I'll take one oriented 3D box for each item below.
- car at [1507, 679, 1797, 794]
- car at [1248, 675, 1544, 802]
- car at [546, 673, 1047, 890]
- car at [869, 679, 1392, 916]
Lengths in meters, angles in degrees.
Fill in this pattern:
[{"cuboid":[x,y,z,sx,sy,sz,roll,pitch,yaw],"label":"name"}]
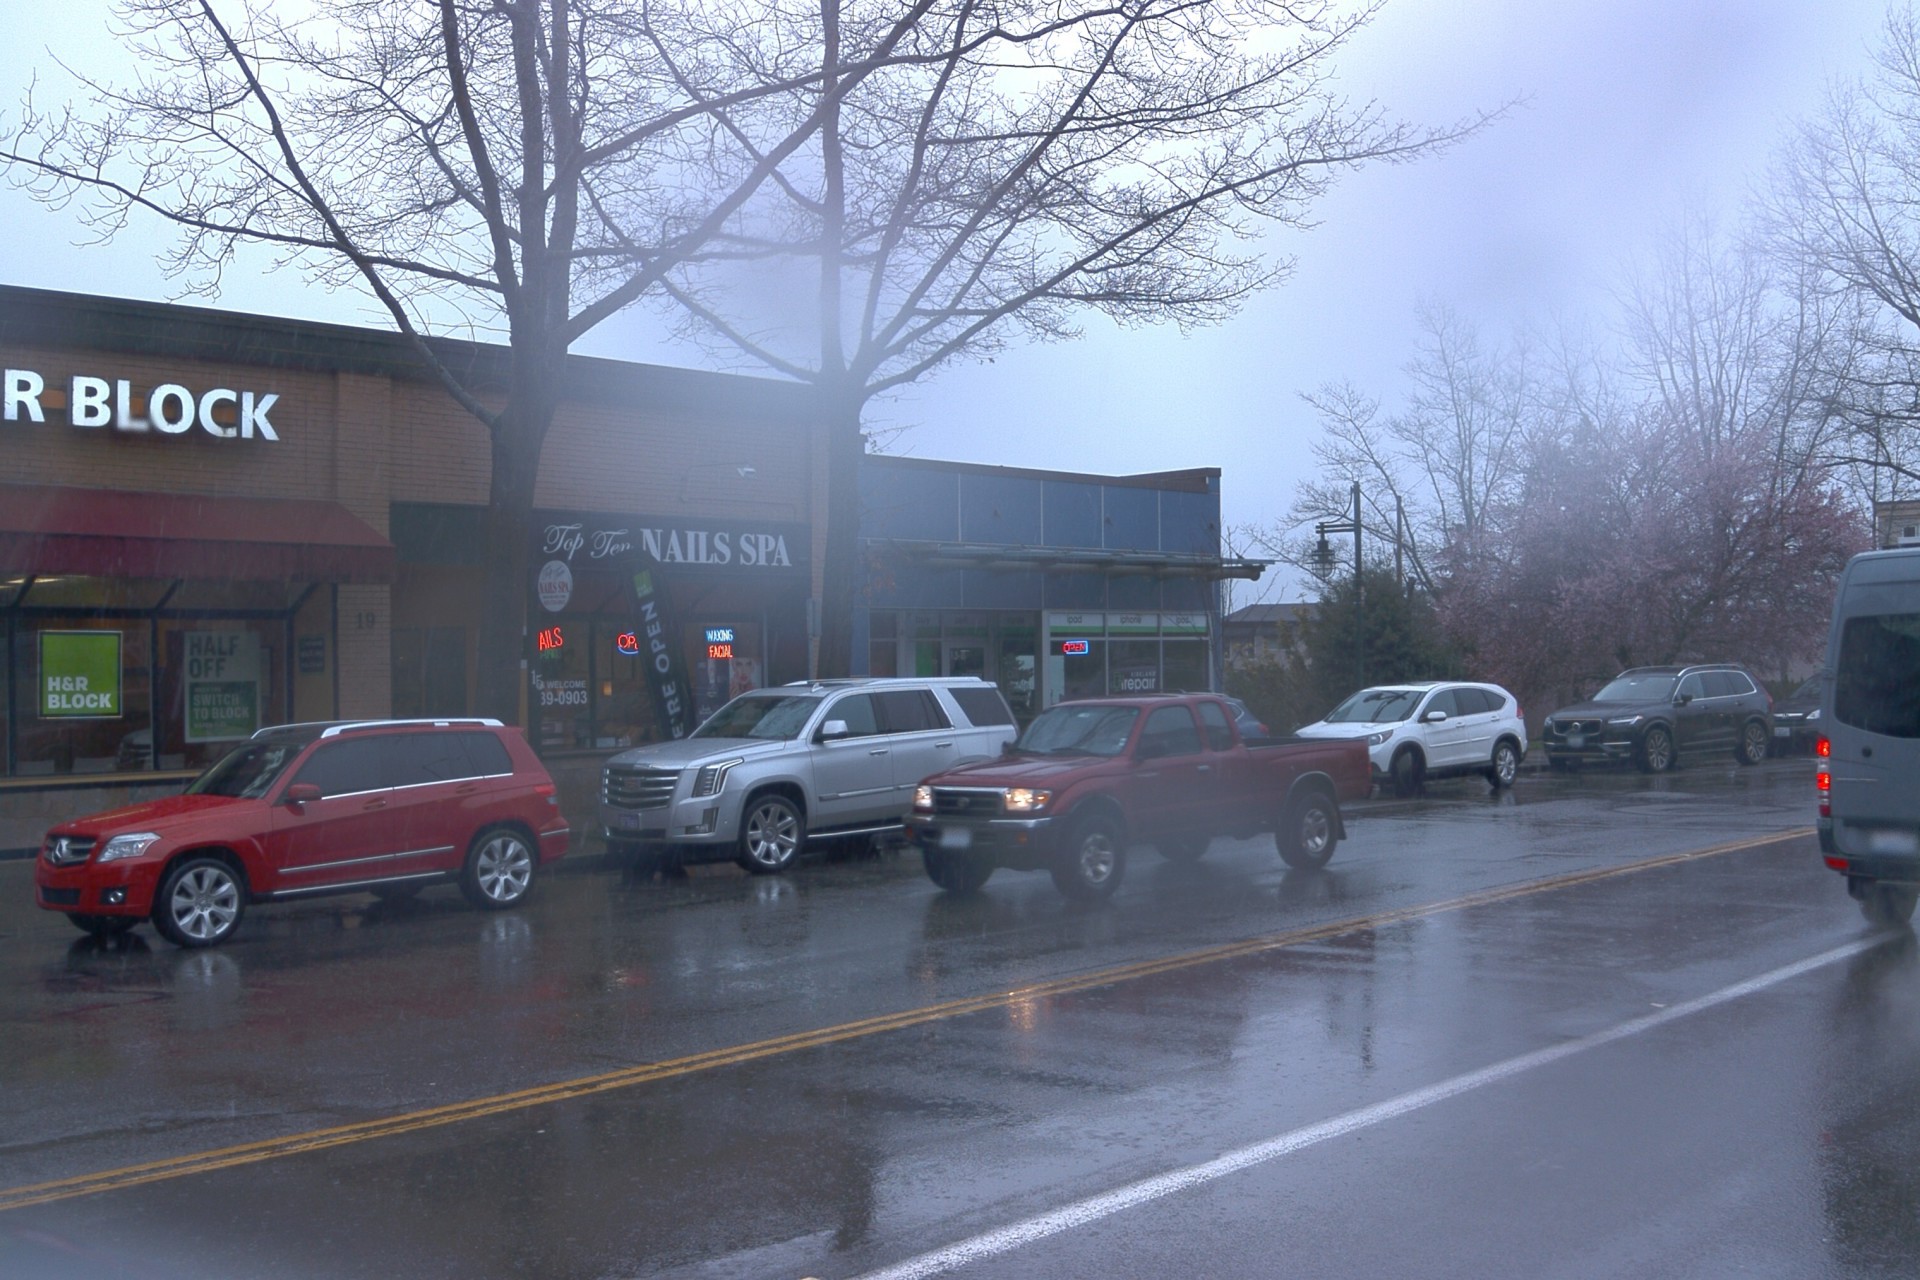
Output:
[{"cuboid":[11.911,1.586,35.378,5.296,1.690,2.144,-1,1,-38],"label":"car"},{"cuboid":[6.569,1.401,30.837,4.481,1.610,2.181,-1,1,-44],"label":"car"},{"cuboid":[-1.613,1.374,22.148,2.331,1.890,5.194,1,1,41],"label":"car"},{"cuboid":[1.724,1.316,19.109,1.929,1.750,5.184,1,1,45],"label":"car"}]
